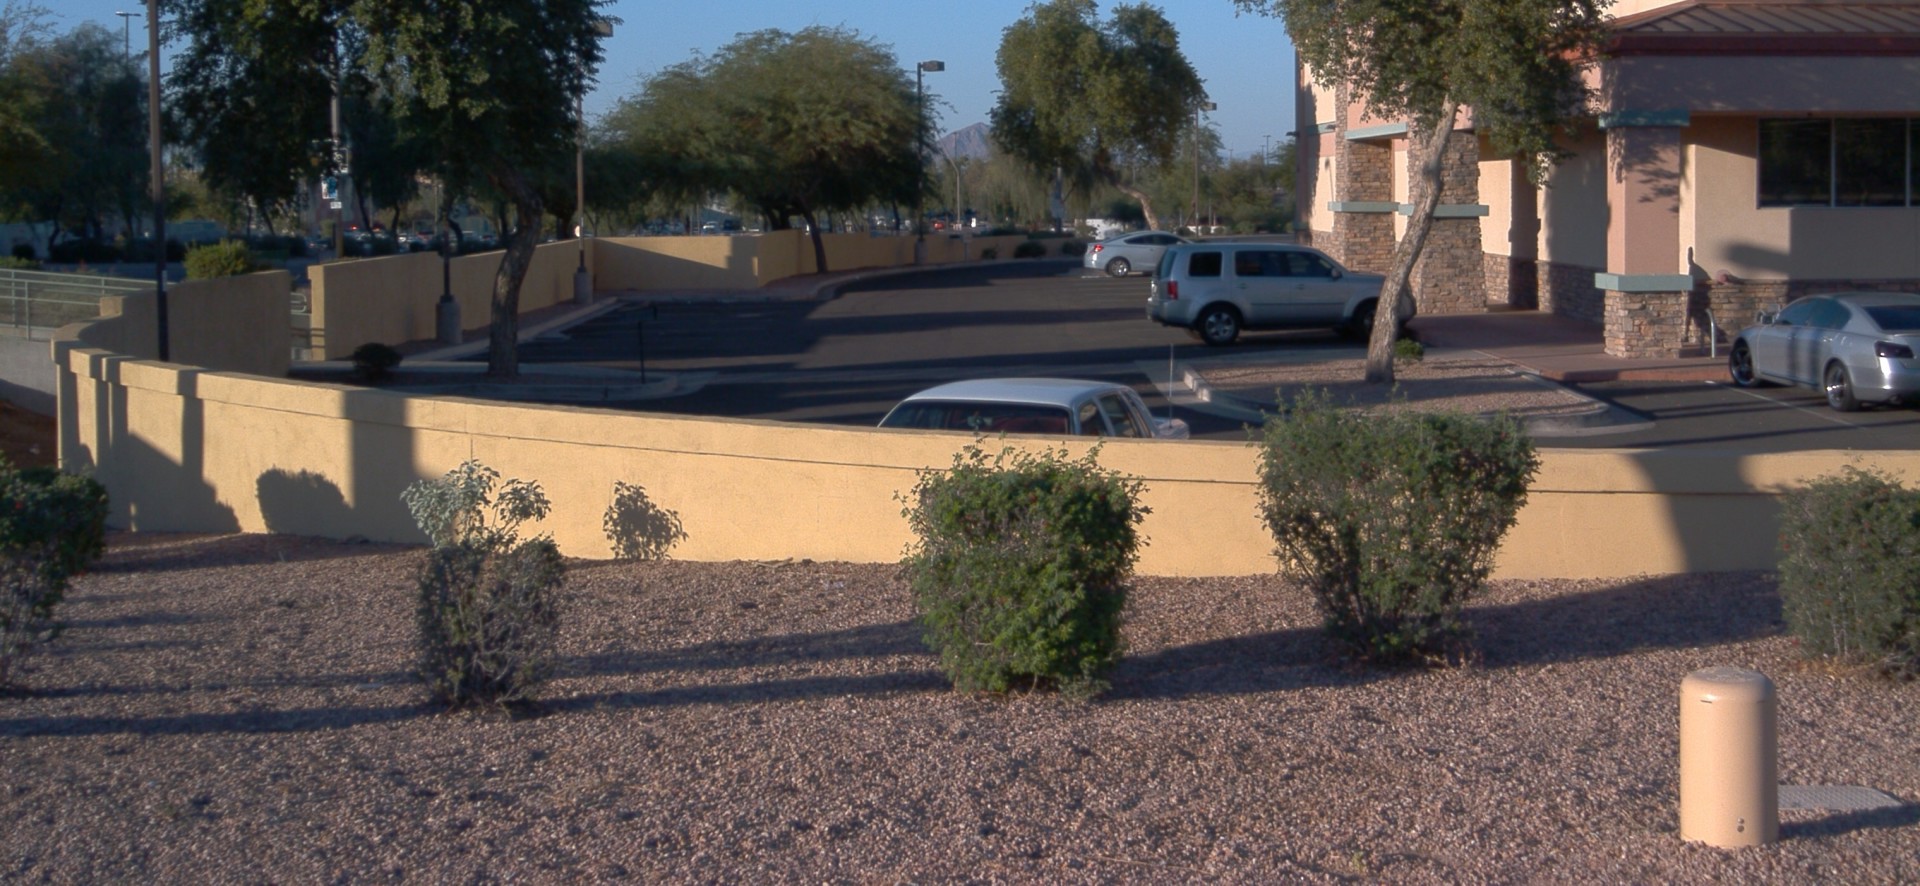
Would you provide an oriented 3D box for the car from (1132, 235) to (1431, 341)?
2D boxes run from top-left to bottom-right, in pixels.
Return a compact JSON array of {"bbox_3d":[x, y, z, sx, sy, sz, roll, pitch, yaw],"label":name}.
[{"bbox_3d":[5.746,-2.833,37.465,4.991,1.846,2.164,-1,4,-6],"label":"car"}]

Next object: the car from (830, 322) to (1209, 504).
[{"bbox_3d":[0.626,-0.338,16.861,1.917,1.095,3.965,2,6,20],"label":"car"}]
